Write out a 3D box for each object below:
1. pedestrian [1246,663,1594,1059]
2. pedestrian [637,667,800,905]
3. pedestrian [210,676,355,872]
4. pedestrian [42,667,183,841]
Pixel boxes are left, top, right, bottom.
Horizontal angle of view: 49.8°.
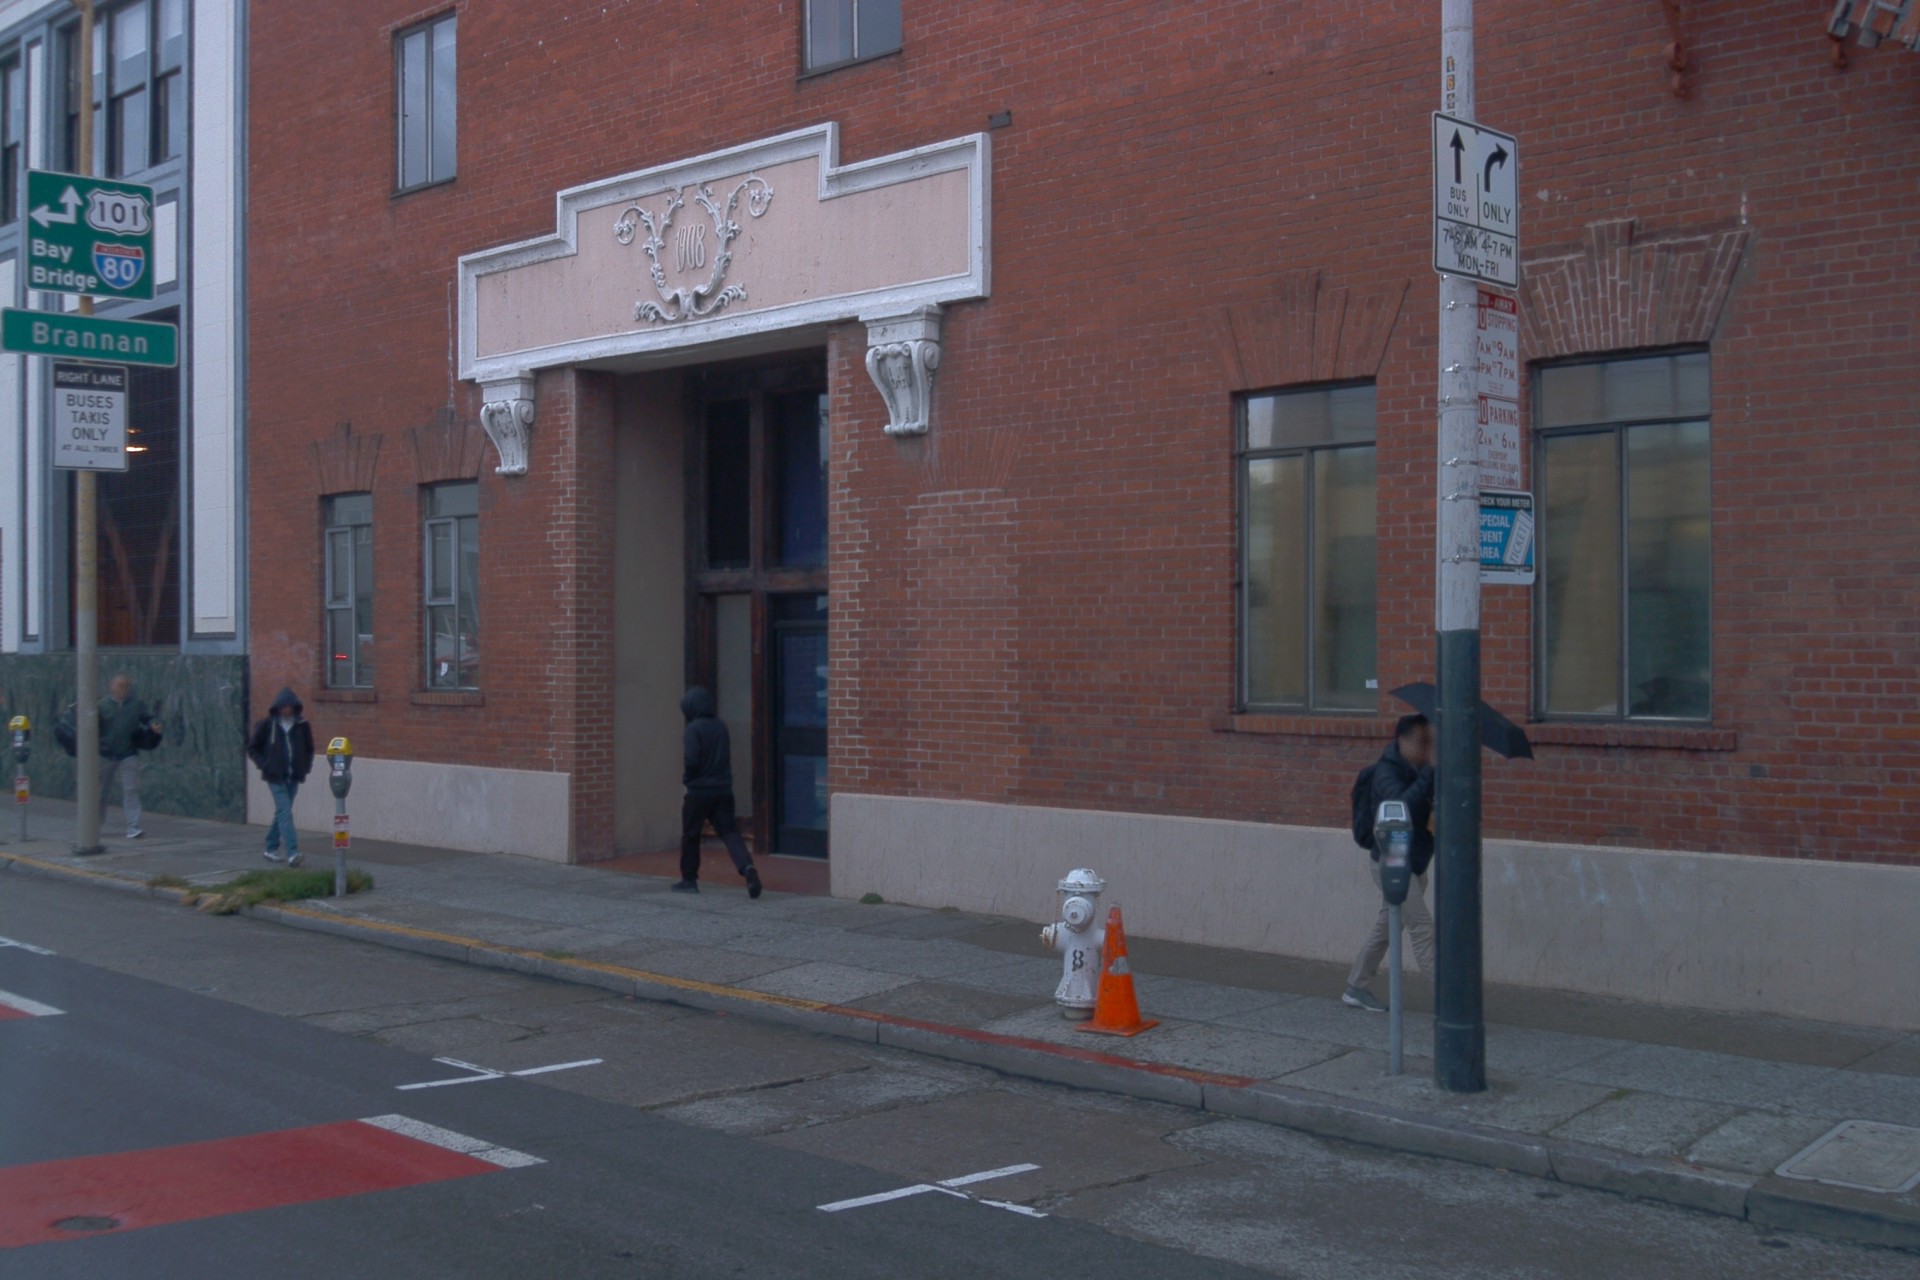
[{"bbox_3d":[2.489,1.114,11.251,1.540,1.970,1.005,0,-1,44],"label":"pedestrian"},{"bbox_3d":[-1.971,1.149,16.832,0.798,1.848,1.126,1,-1,-42],"label":"pedestrian"},{"bbox_3d":[-6.310,1.215,19.261,0.893,1.750,1.042,1,-1,-44],"label":"pedestrian"},{"bbox_3d":[-8.986,1.179,21.941,1.051,1.770,1.159,1,-1,-41],"label":"pedestrian"}]
